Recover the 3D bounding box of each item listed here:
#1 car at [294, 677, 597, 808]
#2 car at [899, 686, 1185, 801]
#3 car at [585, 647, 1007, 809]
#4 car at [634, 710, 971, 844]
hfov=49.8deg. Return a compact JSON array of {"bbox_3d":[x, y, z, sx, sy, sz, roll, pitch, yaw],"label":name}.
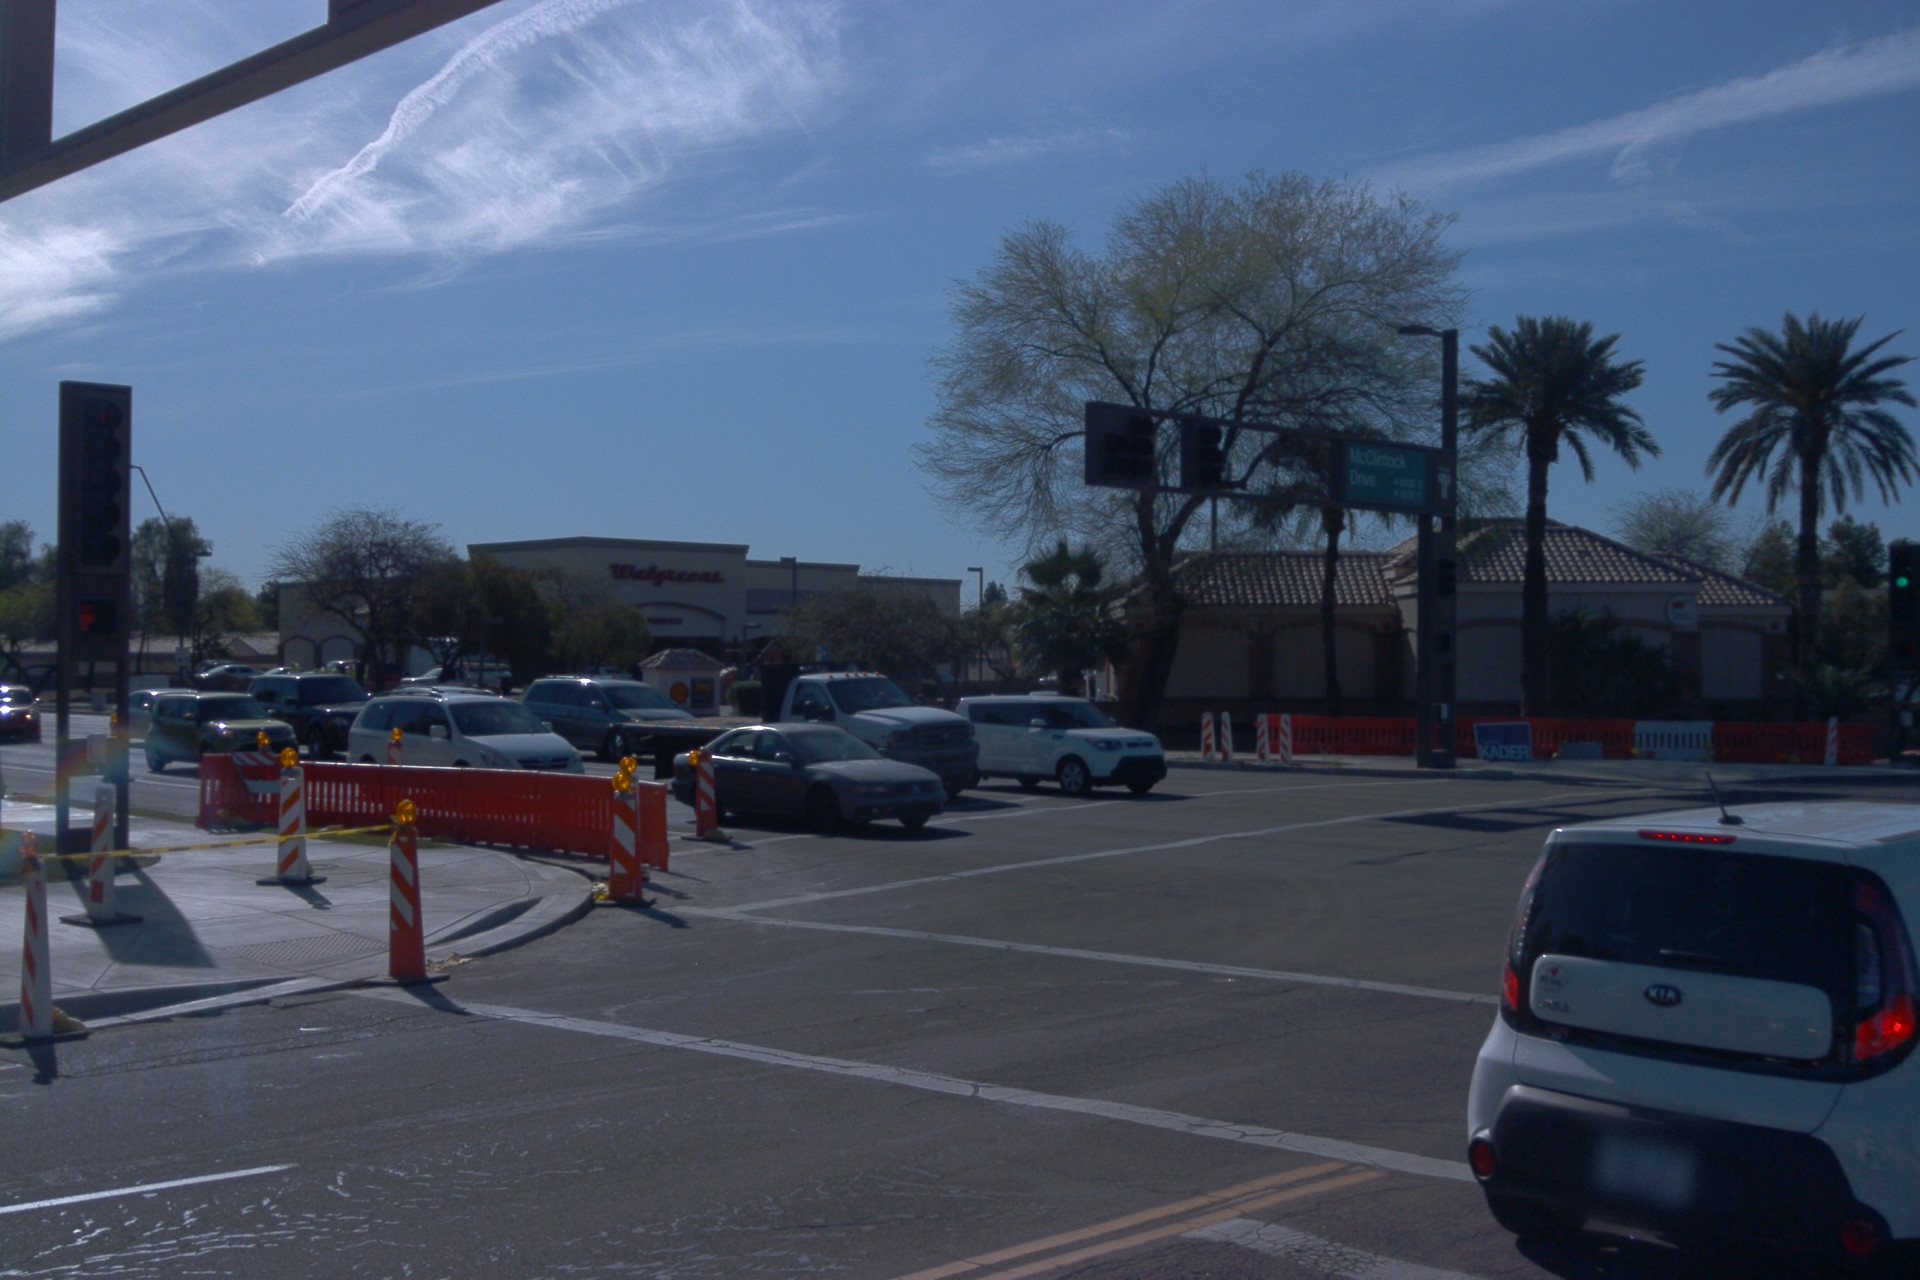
[{"bbox_3d":[-8.437,1.579,33.605,2.434,1.880,5.273,1,-1,-44],"label":"car"},{"bbox_3d":[1.314,1.677,34.898,2.060,1.720,4.681,1,-1,-44],"label":"car"},{"bbox_3d":[-2.925,1.345,34.704,7.569,2.400,2.764,0,-1,45],"label":"car"},{"bbox_3d":[-2.232,1.785,28.221,2.060,1.520,4.681,1,-1,-44],"label":"car"}]
